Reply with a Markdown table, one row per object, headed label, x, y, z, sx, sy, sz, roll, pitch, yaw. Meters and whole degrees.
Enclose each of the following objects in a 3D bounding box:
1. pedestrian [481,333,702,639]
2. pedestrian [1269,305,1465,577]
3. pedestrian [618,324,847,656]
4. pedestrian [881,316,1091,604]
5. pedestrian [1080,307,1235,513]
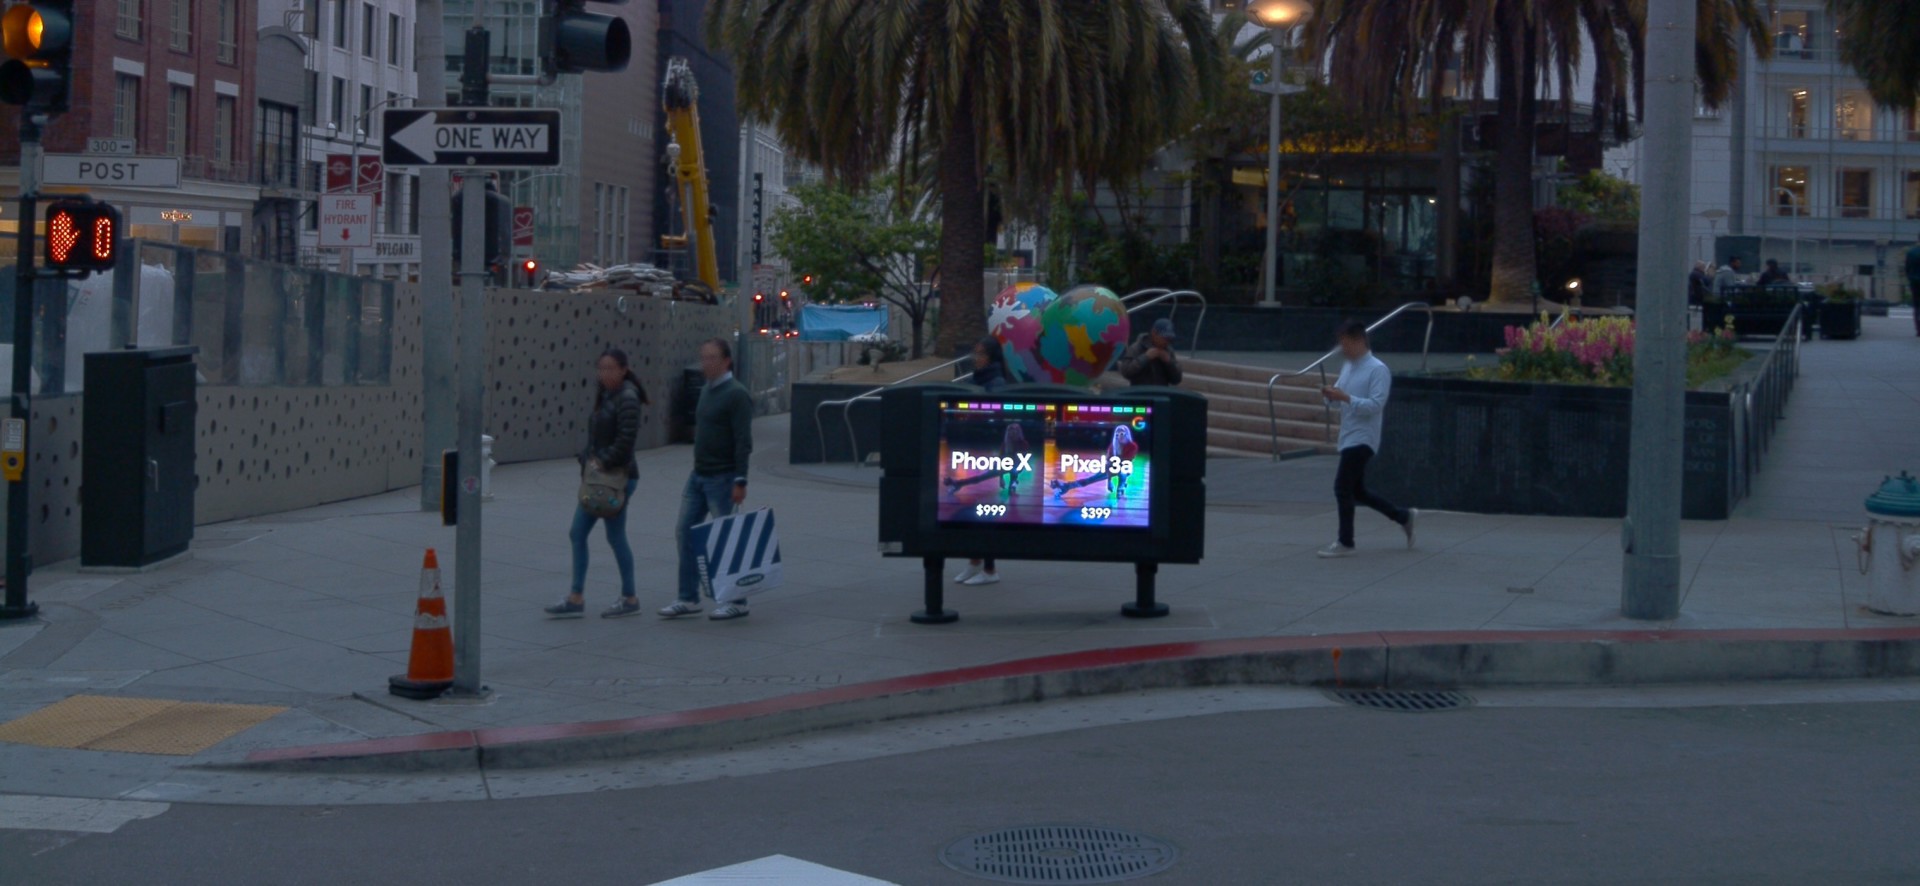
| label | x | y | z | sx | sy | sz | roll | pitch | yaw |
| --- | --- | --- | --- | --- | --- | --- | --- | --- | --- |
| pedestrian | -2.267 | 0.212 | 12.680 | 1.001 | 1.719 | 1.001 | -1 | 2 | -35 |
| pedestrian | 2.786 | -0.056 | 14.231 | 1.000 | 1.759 | 1.002 | -1 | 2 | -12 |
| pedestrian | -1.372 | 0.225 | 12.406 | 1.001 | 1.829 | 1.001 | -1 | 2 | -35 |
| pedestrian | 0.161 | 0.061 | 13.561 | 1.001 | 1.749 | 1.002 | -1 | 2 | -31 |
| pedestrian | 1.785 | -0.334 | 18.747 | 1.001 | 1.759 | 1.002 | -1 | 2 | -29 |
